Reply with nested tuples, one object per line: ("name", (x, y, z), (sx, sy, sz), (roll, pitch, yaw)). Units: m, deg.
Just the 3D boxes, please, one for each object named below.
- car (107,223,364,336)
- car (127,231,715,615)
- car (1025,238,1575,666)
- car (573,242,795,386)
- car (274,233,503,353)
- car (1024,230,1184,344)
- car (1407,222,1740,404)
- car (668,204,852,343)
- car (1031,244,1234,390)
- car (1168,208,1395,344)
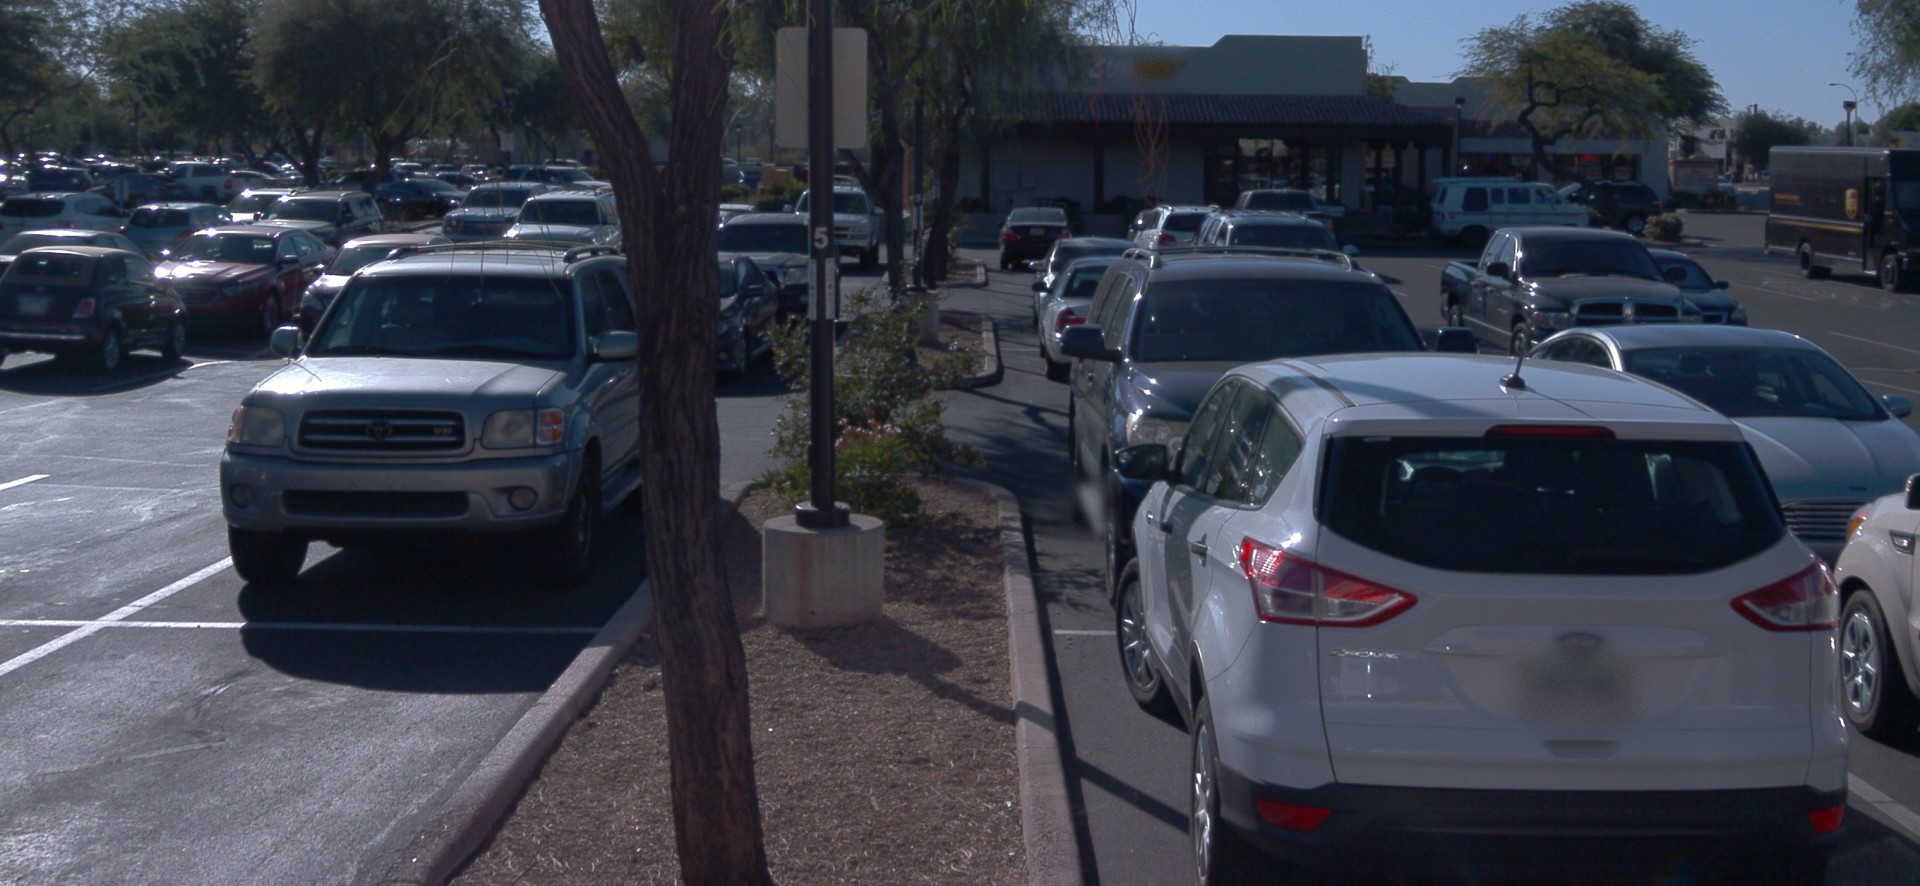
("car", (-10.927, -2.566, 31.730), (2.086, 1.562, 4.913), (1, 6, 2))
("car", (-3.107, -0.365, 13.374), (2.382, 1.941, 5.207), (1, 5, 0))
("car", (1.775, -0.201, 12.867), (2.497, 2.061, 5.138), (1, 5, -1))
("car", (-3.293, -1.673, 25.656), (2.083, 1.543, 4.565), (1, 6, 0))
("car", (-8.320, -2.278, 30.644), (2.010, 1.593, 4.474), (1, 5, 2))
("car", (2.098, -2.426, 31.463), (2.127, 1.553, 4.507), (1, 6, 0))
("car", (7.519, -1.769, 26.210), (2.523, 2.021, 5.784), (1, 6, 0))
("car", (-2.933, -2.647, 31.607), (2.086, 1.901, 5.342), (1, 5, 2))
("car", (2.025, -1.668, 25.912), (2.256, 1.562, 5.128), (1, 6, 2))
("car", (4.822, -2.646, 32.019), (2.482, 1.891, 5.237), (0, 5, -3))
